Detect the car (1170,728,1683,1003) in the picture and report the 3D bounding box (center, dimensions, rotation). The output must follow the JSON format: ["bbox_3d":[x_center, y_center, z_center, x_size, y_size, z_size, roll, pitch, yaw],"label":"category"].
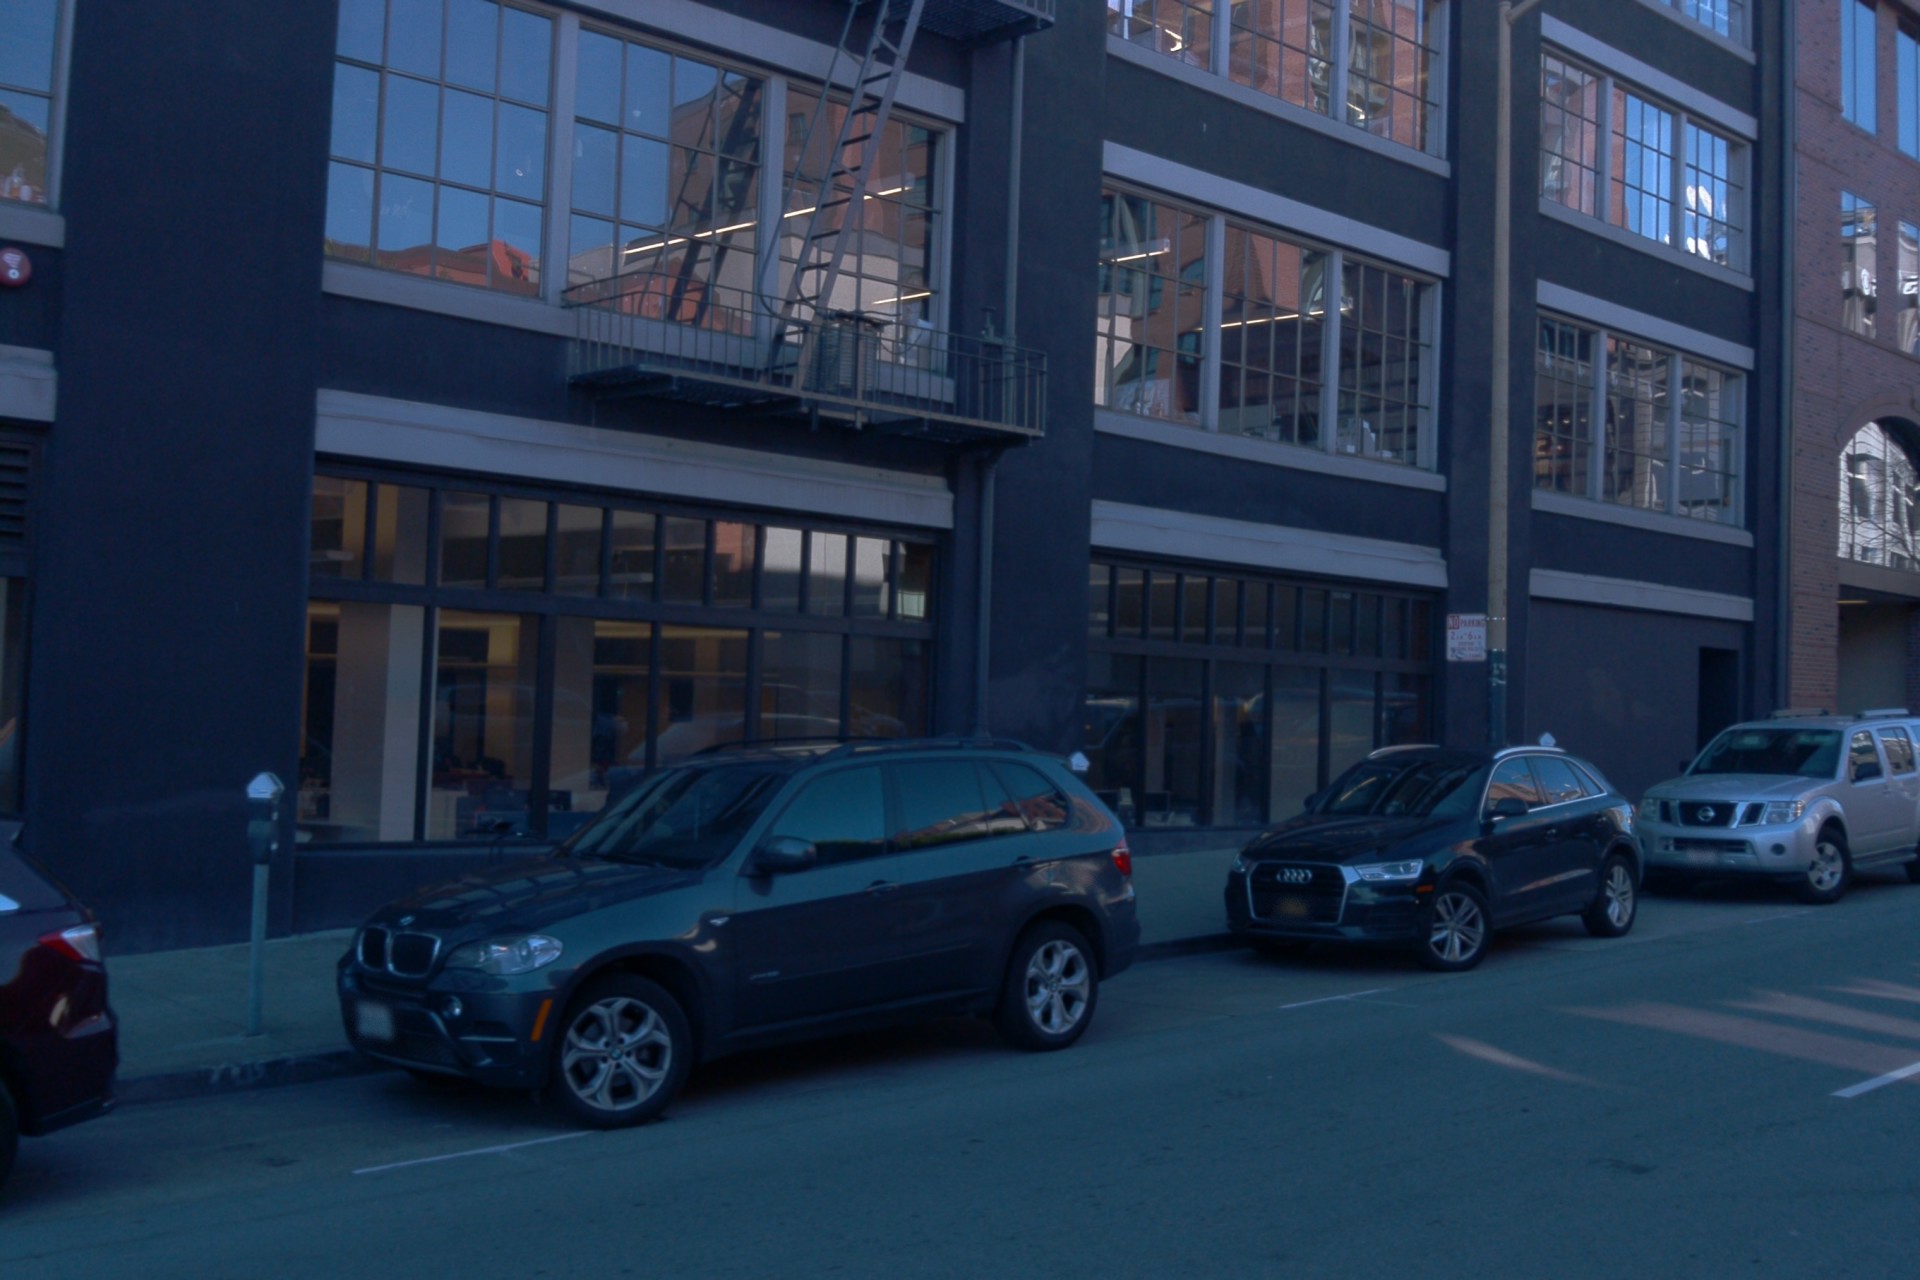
[{"bbox_3d":[3.849,1.636,16.555,2.055,1.740,4.550,0,-1,41],"label":"car"}]

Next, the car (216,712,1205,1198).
[{"bbox_3d":[-1.122,1.415,11.282,5.034,1.960,2.120,1,-1,-44],"label":"car"}]
